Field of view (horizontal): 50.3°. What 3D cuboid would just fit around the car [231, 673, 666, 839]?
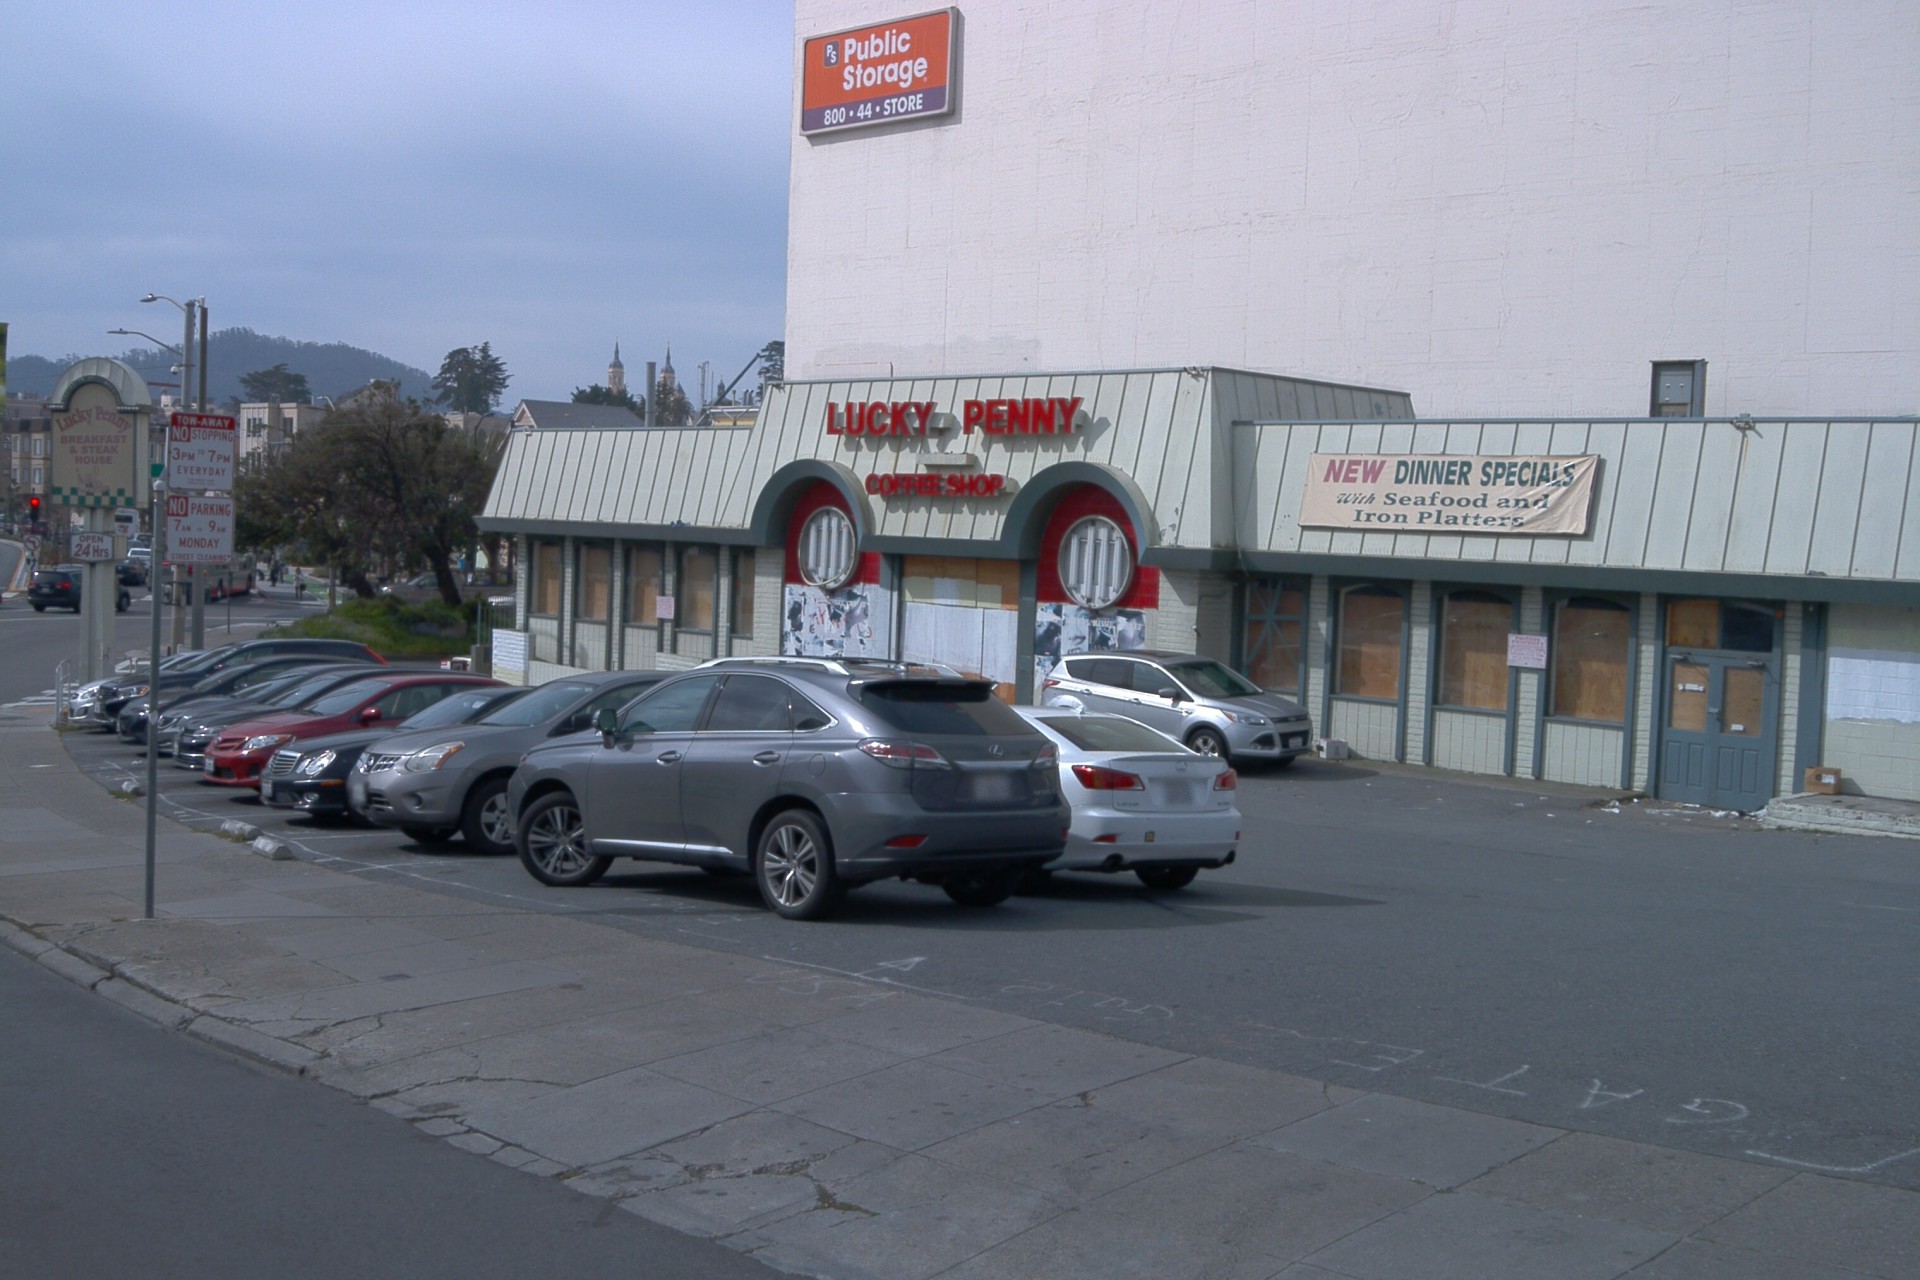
[{"bbox_3d":[-5.280,1.132,21.446,4.029,1.500,1.869,0,0,-45],"label":"car"}]

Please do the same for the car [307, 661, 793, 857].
[{"bbox_3d":[-3.730,1.004,19.064,1.975,1.570,4.019,1,0,44],"label":"car"}]

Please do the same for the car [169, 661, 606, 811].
[{"bbox_3d":[-6.671,1.048,24.134,4.484,1.550,2.134,0,0,-44],"label":"car"}]

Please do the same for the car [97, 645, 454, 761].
[{"bbox_3d":[-10.351,0.898,31.123,4.651,1.610,2.192,0,0,-43],"label":"car"}]

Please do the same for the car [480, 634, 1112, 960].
[{"bbox_3d":[-1.307,0.944,14.618,2.065,1.920,4.493,0,0,-45],"label":"car"}]

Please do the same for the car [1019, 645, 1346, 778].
[{"bbox_3d":[3.274,0.996,30.737,2.134,1.790,4.557,0,0,-44],"label":"car"}]

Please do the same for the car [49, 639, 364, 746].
[{"bbox_3d":[-13.150,0.870,35.876,4.757,1.740,2.072,0,0,-43],"label":"car"}]

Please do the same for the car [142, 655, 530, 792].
[{"bbox_3d":[-7.987,1.008,26.428,4.343,1.580,1.994,0,0,-43],"label":"car"}]

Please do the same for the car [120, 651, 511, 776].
[{"bbox_3d":[-8.997,0.959,28.801,4.736,1.590,2.241,0,0,-44],"label":"car"}]

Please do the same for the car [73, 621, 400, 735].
[{"bbox_3d":[-11.729,0.579,33.351,4.561,1.710,2.059,0,0,-43],"label":"car"}]

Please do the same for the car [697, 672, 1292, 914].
[{"bbox_3d":[0.143,1.106,16.710,2.088,1.580,4.738,0,0,-44],"label":"car"}]
